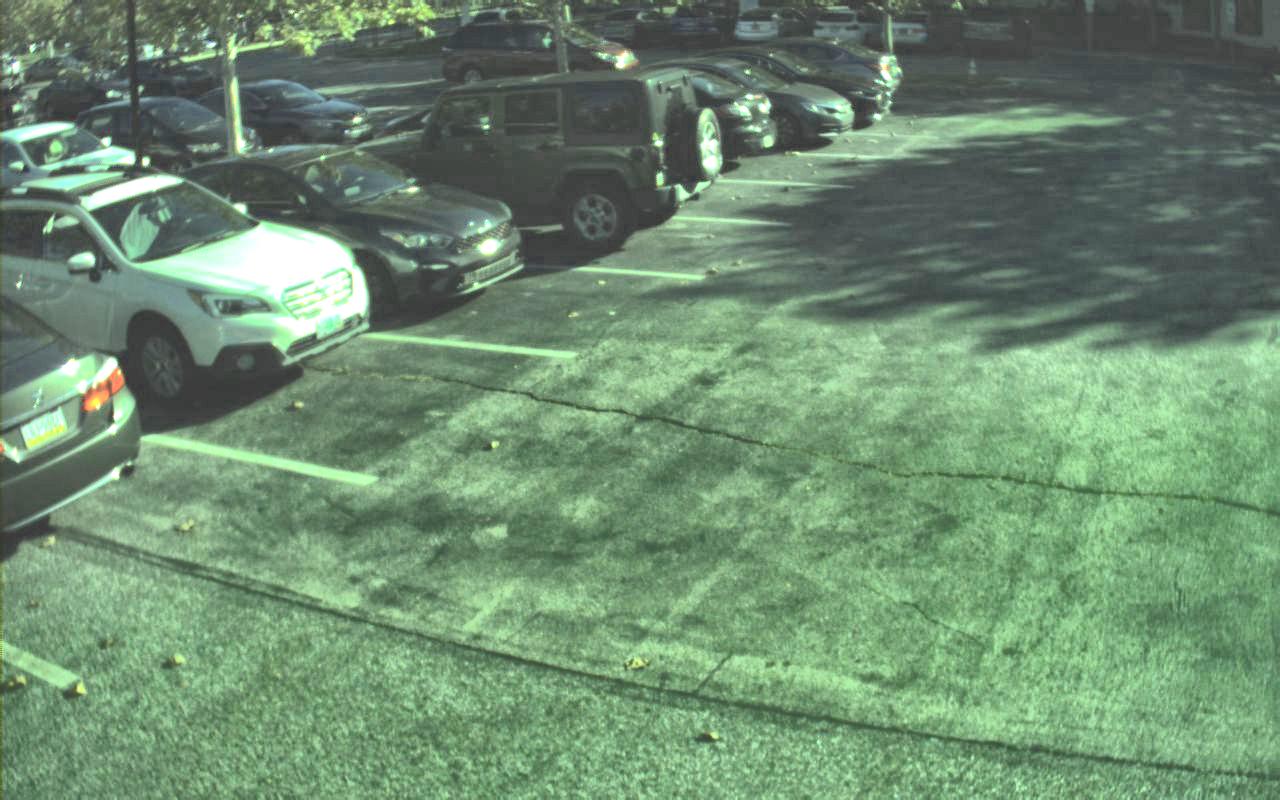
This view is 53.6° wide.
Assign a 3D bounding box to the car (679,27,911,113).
[{"bbox_3d":[3.228,-6.819,25.213,4.434,1.652,1.979,6,17,21],"label":"car"}]

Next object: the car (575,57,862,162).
[{"bbox_3d":[1.345,-4.911,20.693,4.419,1.577,1.965,5,17,21],"label":"car"}]

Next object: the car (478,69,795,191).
[{"bbox_3d":[-0.074,-4.155,18.734,4.375,1.612,1.964,8,19,28],"label":"car"}]

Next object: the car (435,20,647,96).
[{"bbox_3d":[-2.503,-8.518,30.652,4.911,1.745,2.079,6,18,23],"label":"car"}]

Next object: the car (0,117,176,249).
[{"bbox_3d":[-9.589,-3.387,17.751,4.561,1.658,1.995,6,18,22],"label":"car"}]

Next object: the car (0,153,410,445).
[{"bbox_3d":[-4.390,-1.058,9.854,4.656,1.739,2.026,7,18,26],"label":"car"}]

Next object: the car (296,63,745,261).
[{"bbox_3d":[-1.378,-2.780,13.911,4.670,1.877,2.035,6,18,23],"label":"car"}]

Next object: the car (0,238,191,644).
[{"bbox_3d":[-5.190,-0.015,7.113,4.501,1.619,1.974,8,18,26],"label":"car"}]

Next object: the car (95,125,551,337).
[{"bbox_3d":[-3.264,-1.795,11.927,4.402,1.574,1.947,7,18,26],"label":"car"}]

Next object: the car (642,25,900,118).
[{"bbox_3d":[2.456,-6.096,22.645,4.423,1.608,1.967,5,17,19],"label":"car"}]

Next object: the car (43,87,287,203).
[{"bbox_3d":[-8.210,-4.284,19.750,4.415,1.624,1.961,8,18,27],"label":"car"}]

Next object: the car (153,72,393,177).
[{"bbox_3d":[-6.848,-5.014,21.893,4.469,1.626,1.964,8,19,28],"label":"car"}]
